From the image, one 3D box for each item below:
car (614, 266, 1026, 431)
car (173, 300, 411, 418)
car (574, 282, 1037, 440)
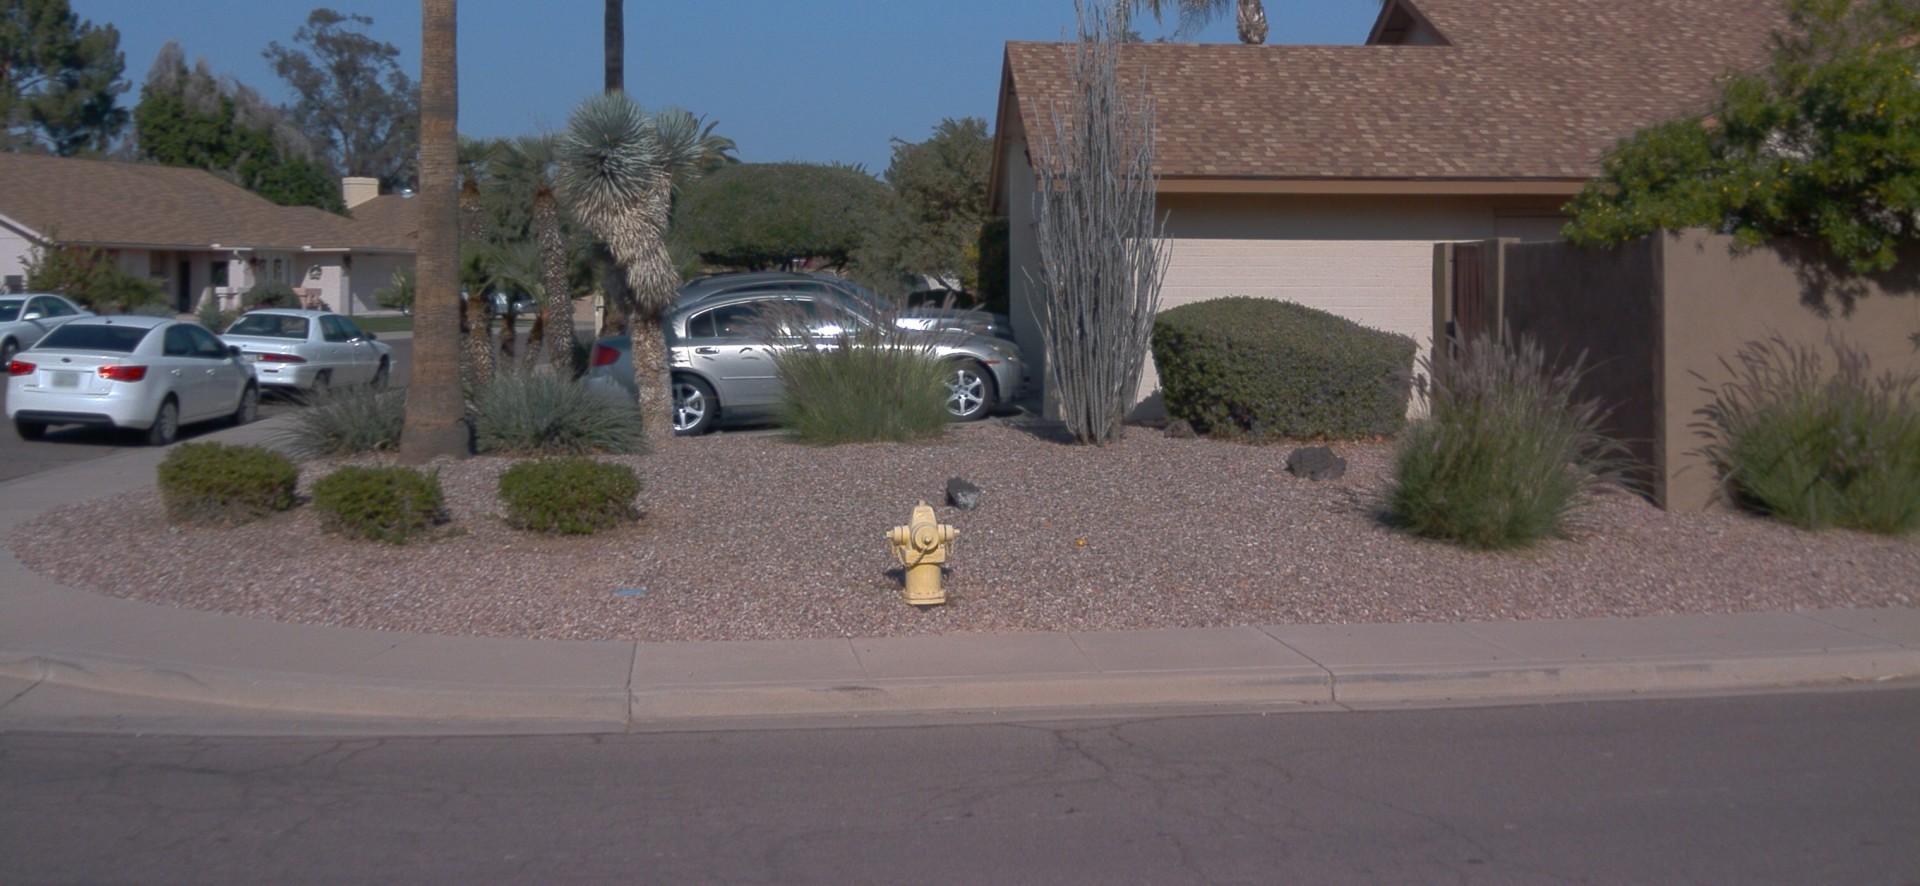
[{"bbox_3d":[-1.634,-1.169,24.602,4.652,1.774,2.165,-1,4,-4],"label":"car"},{"bbox_3d":[-10.066,-1.349,31.665,1.972,1.493,4.480,0,6,3],"label":"car"},{"bbox_3d":[-1.599,-0.913,22.013,4.676,1.505,1.954,-1,4,-4],"label":"car"}]
